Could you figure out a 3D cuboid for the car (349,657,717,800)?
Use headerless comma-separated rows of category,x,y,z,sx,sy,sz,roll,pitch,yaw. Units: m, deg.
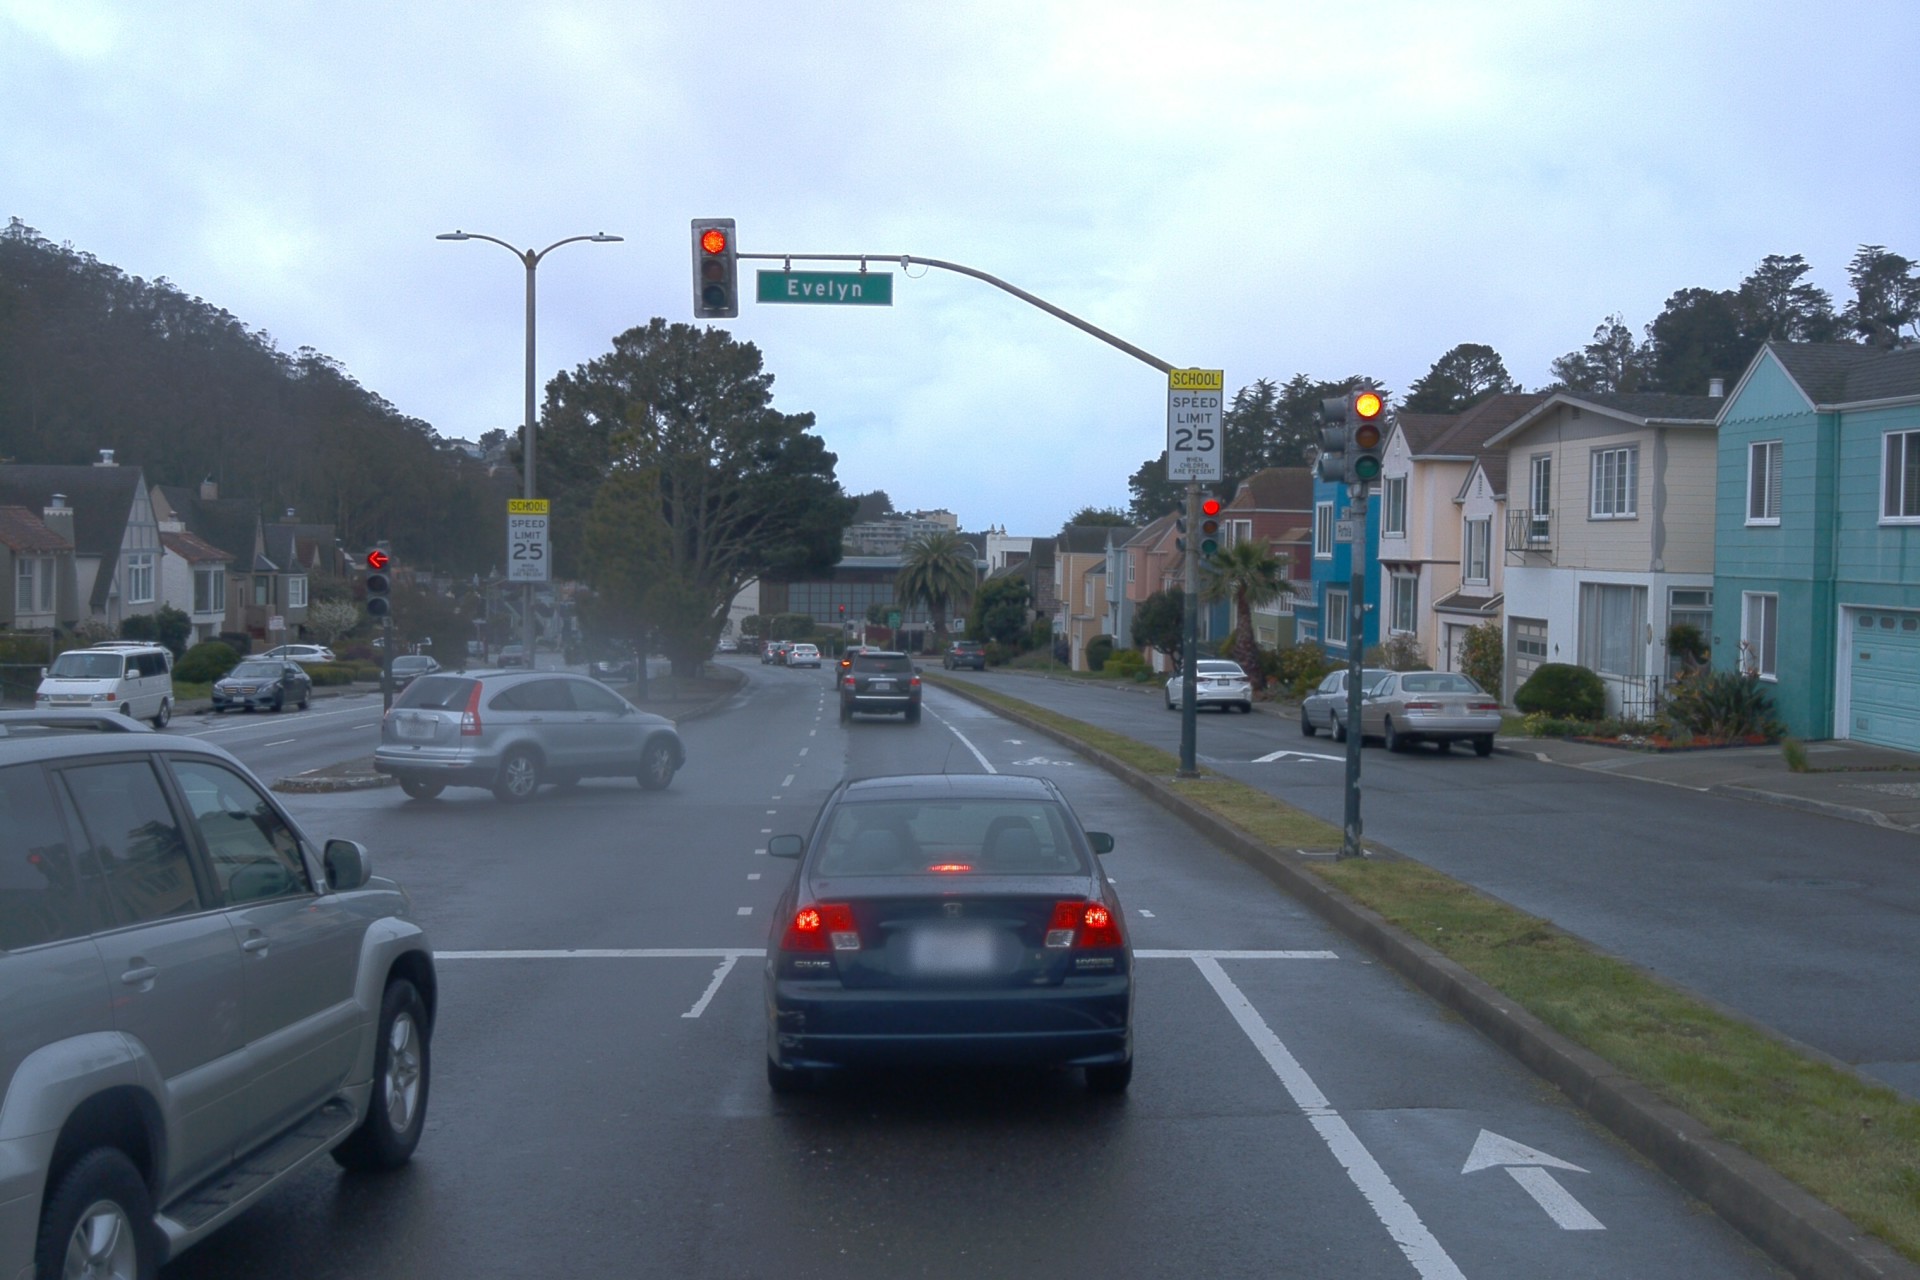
car,-5.484,1.078,27.051,2.143,1.660,4.578,0,0,32

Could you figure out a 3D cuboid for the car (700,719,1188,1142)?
car,-0.106,1.270,10.547,2.004,1.570,4.164,0,0,-1

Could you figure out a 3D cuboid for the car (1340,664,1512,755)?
car,8.084,1.174,36.132,1.755,1.440,4.469,0,0,-4
